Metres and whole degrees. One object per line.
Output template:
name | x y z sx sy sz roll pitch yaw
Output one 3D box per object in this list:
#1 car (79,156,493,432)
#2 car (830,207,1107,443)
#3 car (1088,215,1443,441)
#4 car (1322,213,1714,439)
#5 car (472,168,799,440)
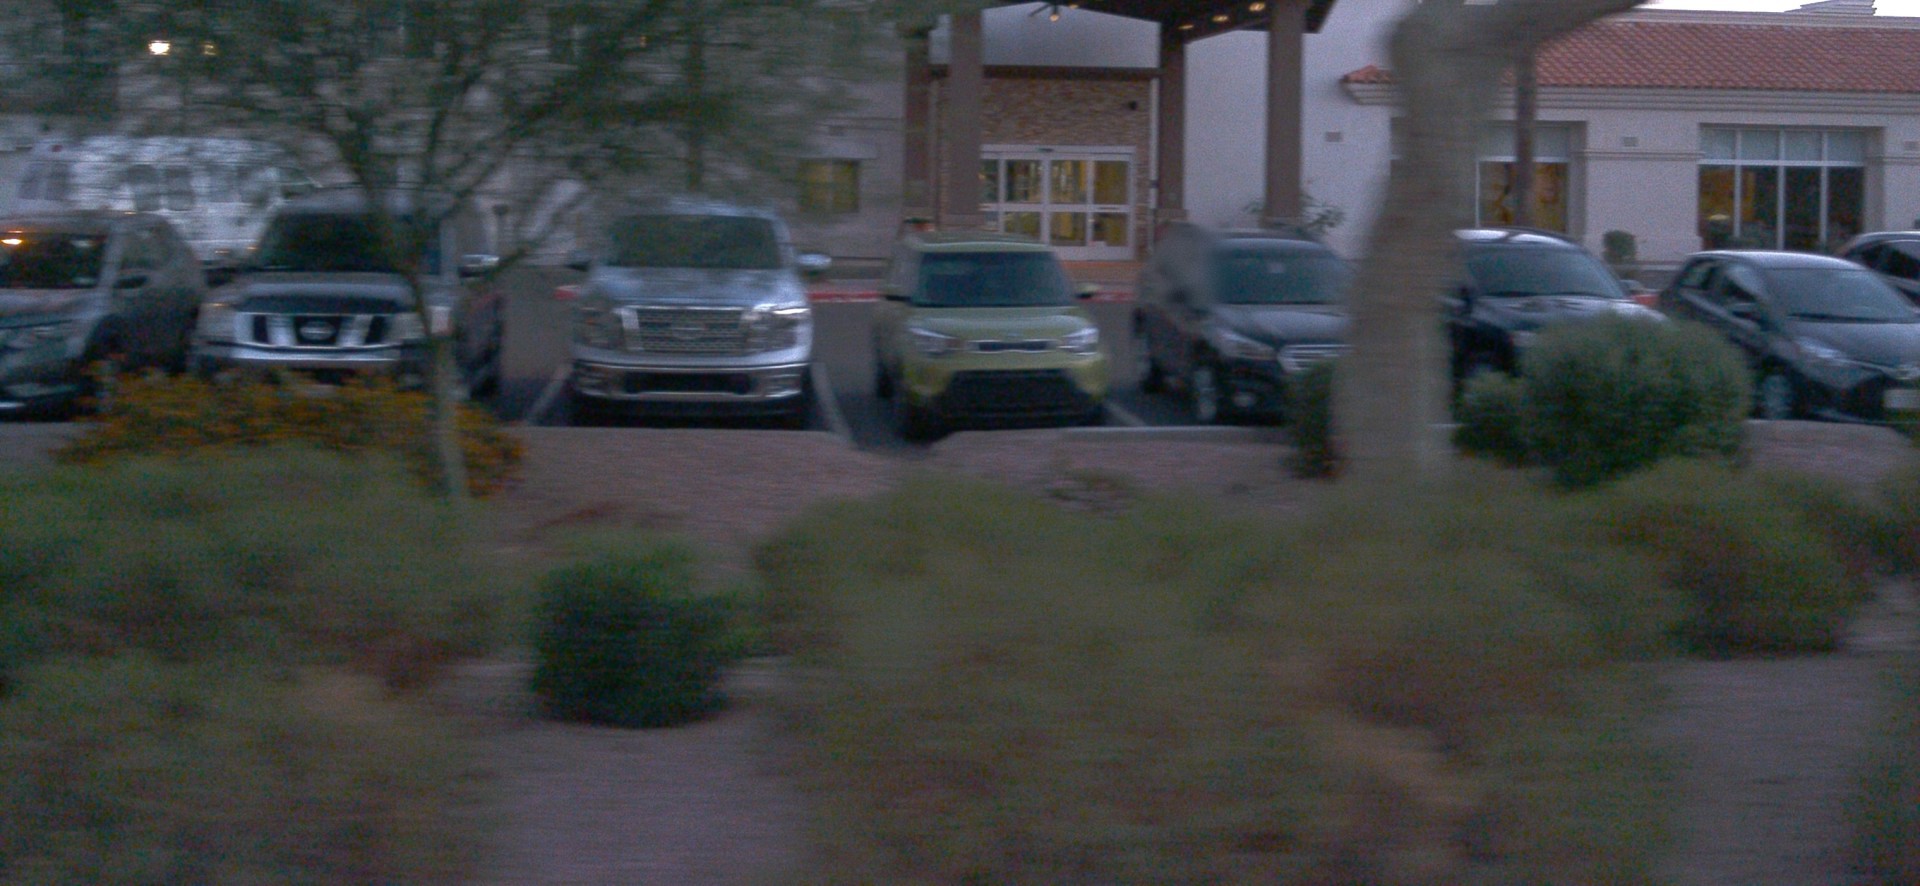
car | -5.565 -1.371 17.961 2.383 2.022 5.153 0 5 -6
car | -0.051 -1.153 18.595 2.064 1.863 4.016 0 5 -6
car | 2.601 -1.165 18.951 2.117 1.793 4.686 0 5 -6
car | 5.072 -1.207 19.563 2.037 1.873 4.336 0 5 -8
car | -2.803 -1.395 19.152 2.534 2.101 5.878 0 5 -6
